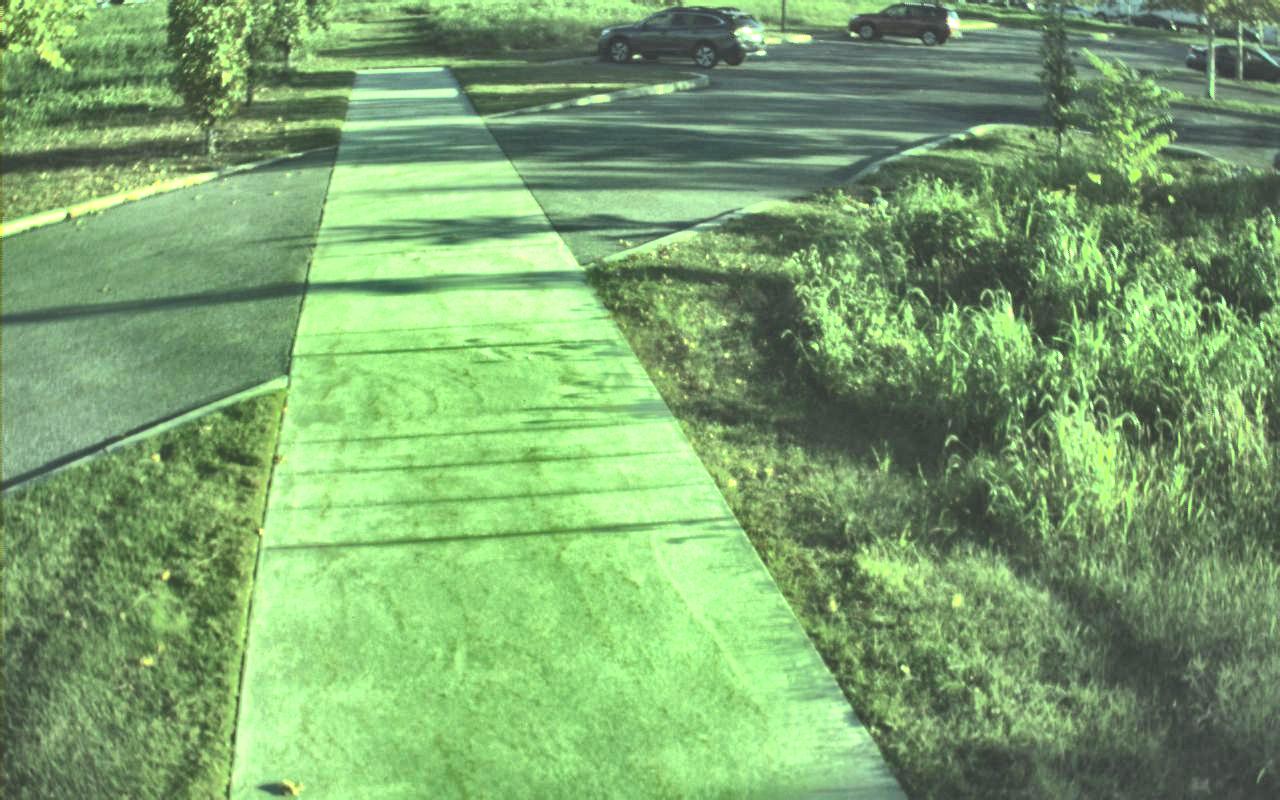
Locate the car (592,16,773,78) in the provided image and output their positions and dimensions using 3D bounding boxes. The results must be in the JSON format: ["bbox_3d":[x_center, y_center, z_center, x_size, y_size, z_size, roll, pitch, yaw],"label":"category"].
[{"bbox_3d":[1.163,-9.763,34.176,4.651,1.632,1.994,9,18,31],"label":"car"}]

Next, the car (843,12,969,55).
[{"bbox_3d":[10.777,-14.769,48.740,4.778,1.648,2.004,7,17,27],"label":"car"}]
